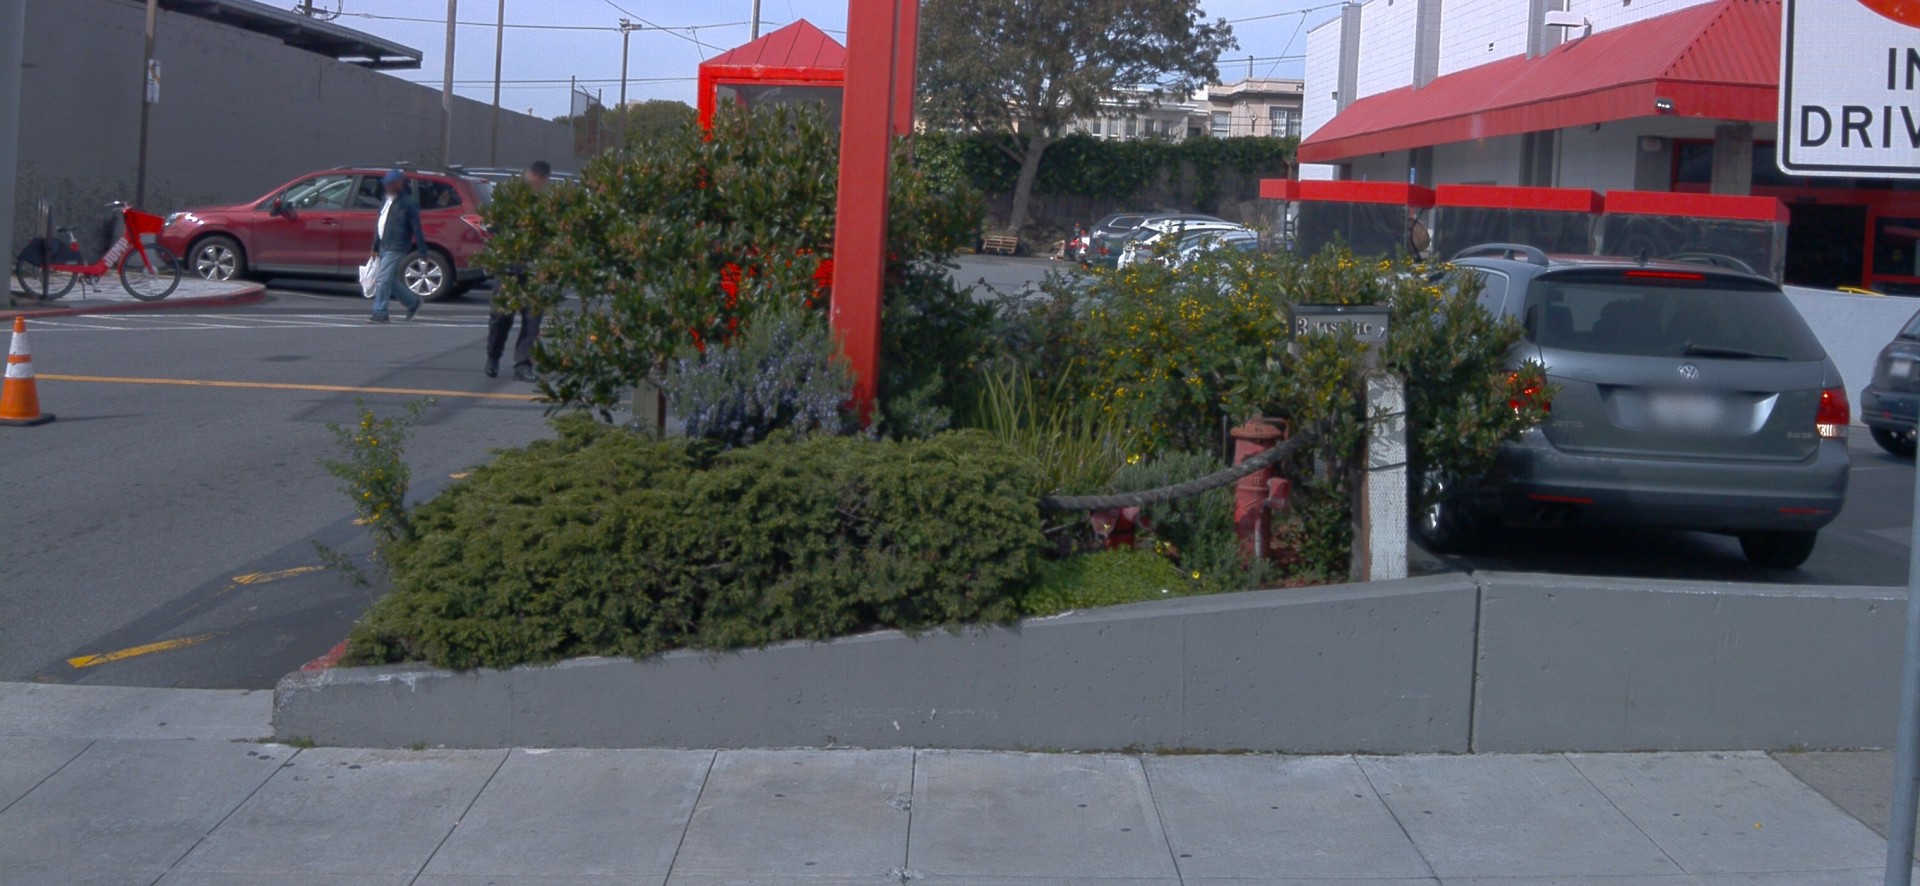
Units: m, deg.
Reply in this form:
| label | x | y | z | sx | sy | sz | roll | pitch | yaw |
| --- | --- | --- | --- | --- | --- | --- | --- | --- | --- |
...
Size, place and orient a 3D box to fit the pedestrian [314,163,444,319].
| label | x | y | z | sx | sy | sz | roll | pitch | yaw |
| --- | --- | --- | --- | --- | --- | --- | --- | --- | --- |
| pedestrian | -6.403 | -2.231 | 22.785 | 1.009 | 1.670 | 0.952 | 1 | 2 | 20 |

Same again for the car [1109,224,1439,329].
| label | x | y | z | sx | sy | sz | roll | pitch | yaw |
| --- | --- | --- | --- | --- | --- | --- | --- | --- | --- |
| car | 5.419 | -2.943 | 36.213 | 5.373 | 1.766 | 2.394 | 0 | 4 | -1 |

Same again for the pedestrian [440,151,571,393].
| label | x | y | z | sx | sy | sz | roll | pitch | yaw |
| --- | --- | --- | --- | --- | --- | --- | --- | --- | --- |
| pedestrian | -3.733 | -1.408 | 16.941 | 0.825 | 1.920 | 0.796 | -1 | 1 | -34 |

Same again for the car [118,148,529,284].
| label | x | y | z | sx | sy | sz | roll | pitch | yaw |
| --- | --- | --- | --- | --- | --- | --- | --- | --- | --- |
| car | -8.288 | -2.988 | 27.266 | 4.792 | 1.717 | 2.140 | 0 | 3 | -2 |

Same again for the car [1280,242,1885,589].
| label | x | y | z | sx | sy | sz | roll | pitch | yaw |
| --- | --- | --- | --- | --- | --- | --- | --- | --- | --- |
| car | 2.933 | -0.323 | 10.774 | 2.075 | 1.434 | 4.236 | 0 | 5 | 3 |
